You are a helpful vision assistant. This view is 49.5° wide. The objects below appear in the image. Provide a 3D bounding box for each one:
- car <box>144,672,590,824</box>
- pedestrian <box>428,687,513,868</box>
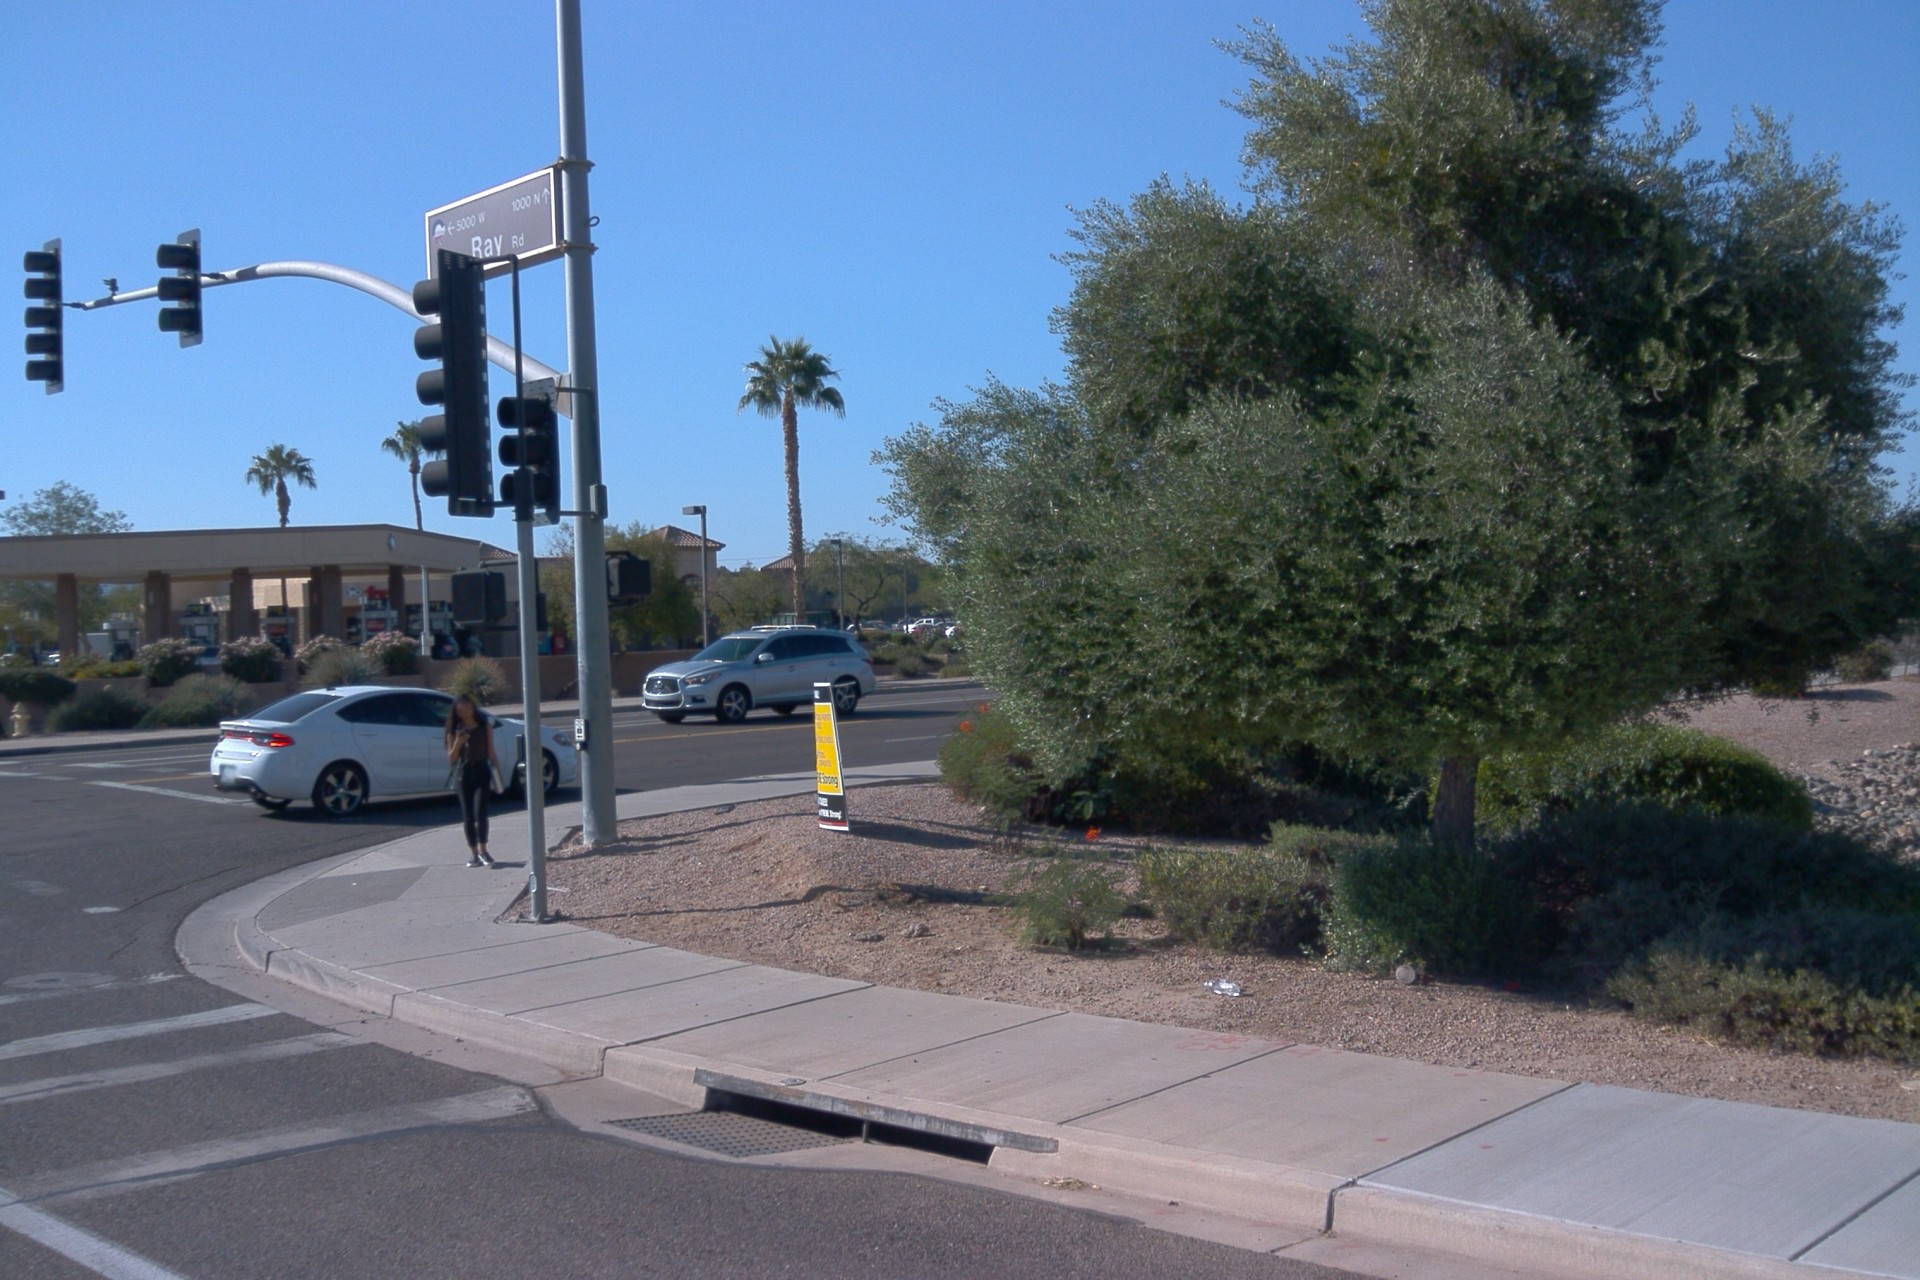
[{"bbox_3d":[-7.060,1.228,25.136,2.101,1.620,4.742,-2,-1,45],"label":"car"},{"bbox_3d":[-4.437,1.224,18.922,0.668,1.590,0.903,-1,-1,-9],"label":"pedestrian"}]
